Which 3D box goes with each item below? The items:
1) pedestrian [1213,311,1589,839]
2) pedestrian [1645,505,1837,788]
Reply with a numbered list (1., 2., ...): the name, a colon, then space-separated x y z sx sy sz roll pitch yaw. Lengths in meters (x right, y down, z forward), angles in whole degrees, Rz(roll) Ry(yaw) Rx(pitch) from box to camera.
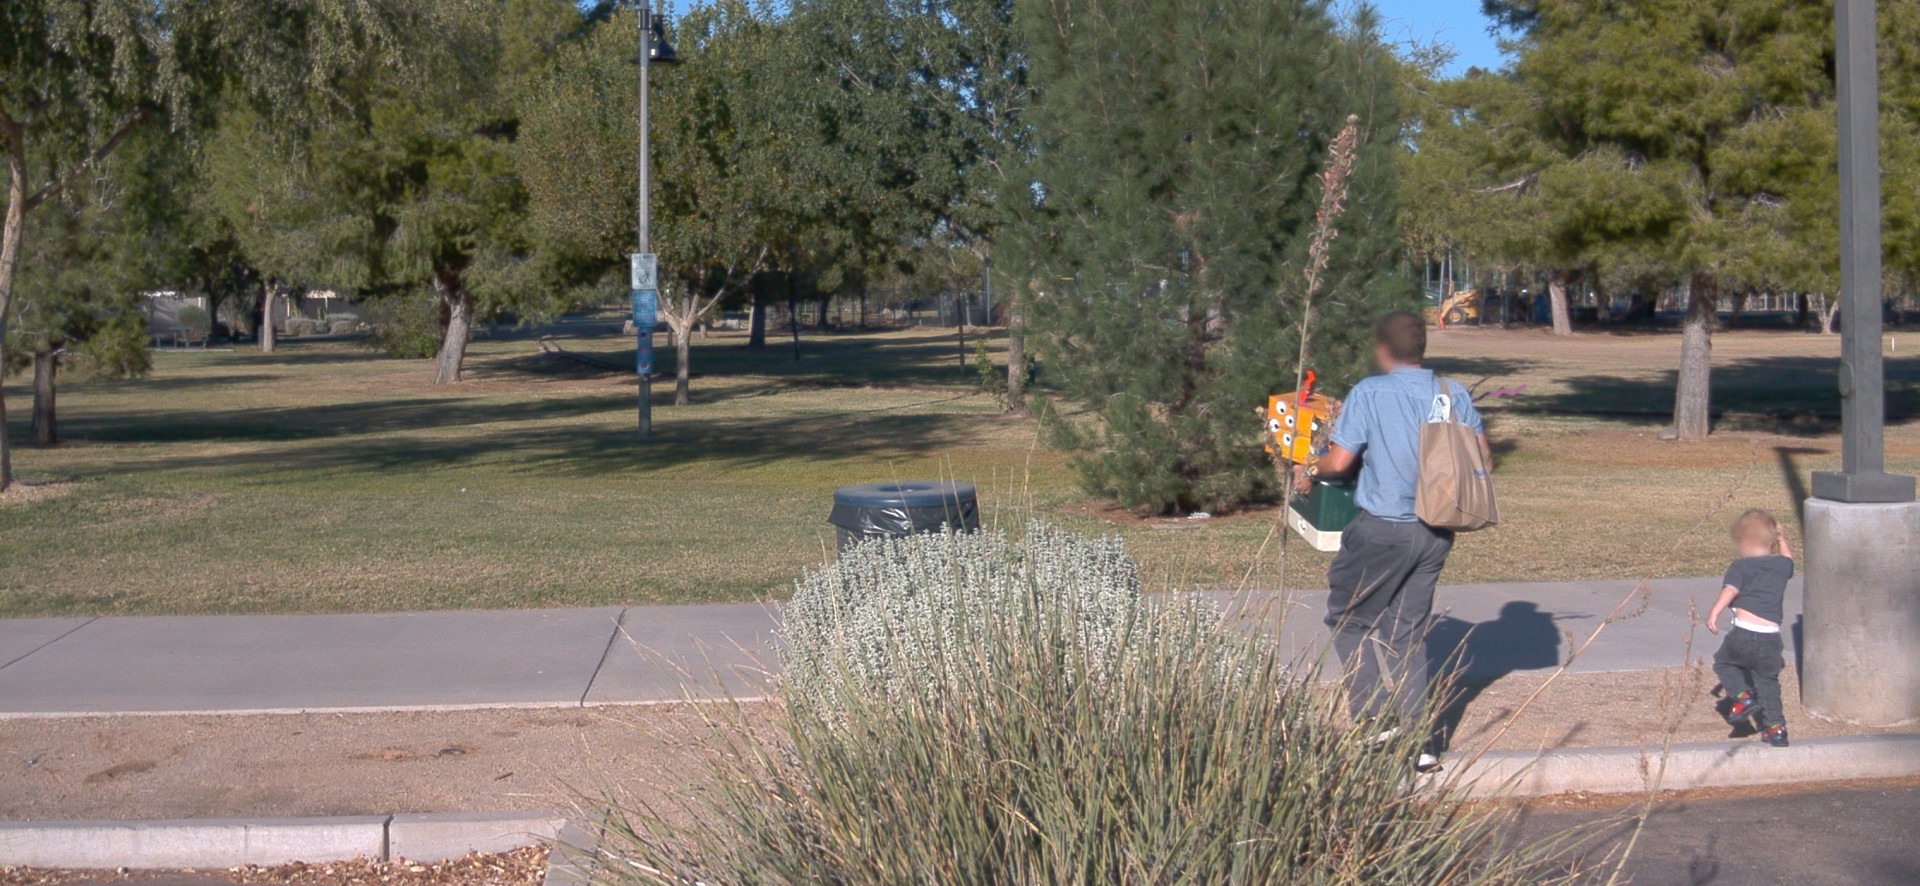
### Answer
1. pedestrian: 1.639 0.417 7.887 1.003 1.790 0.998 -1 1 -21
2. pedestrian: 3.018 0.772 8.099 0.536 0.990 0.537 0 1 -1
